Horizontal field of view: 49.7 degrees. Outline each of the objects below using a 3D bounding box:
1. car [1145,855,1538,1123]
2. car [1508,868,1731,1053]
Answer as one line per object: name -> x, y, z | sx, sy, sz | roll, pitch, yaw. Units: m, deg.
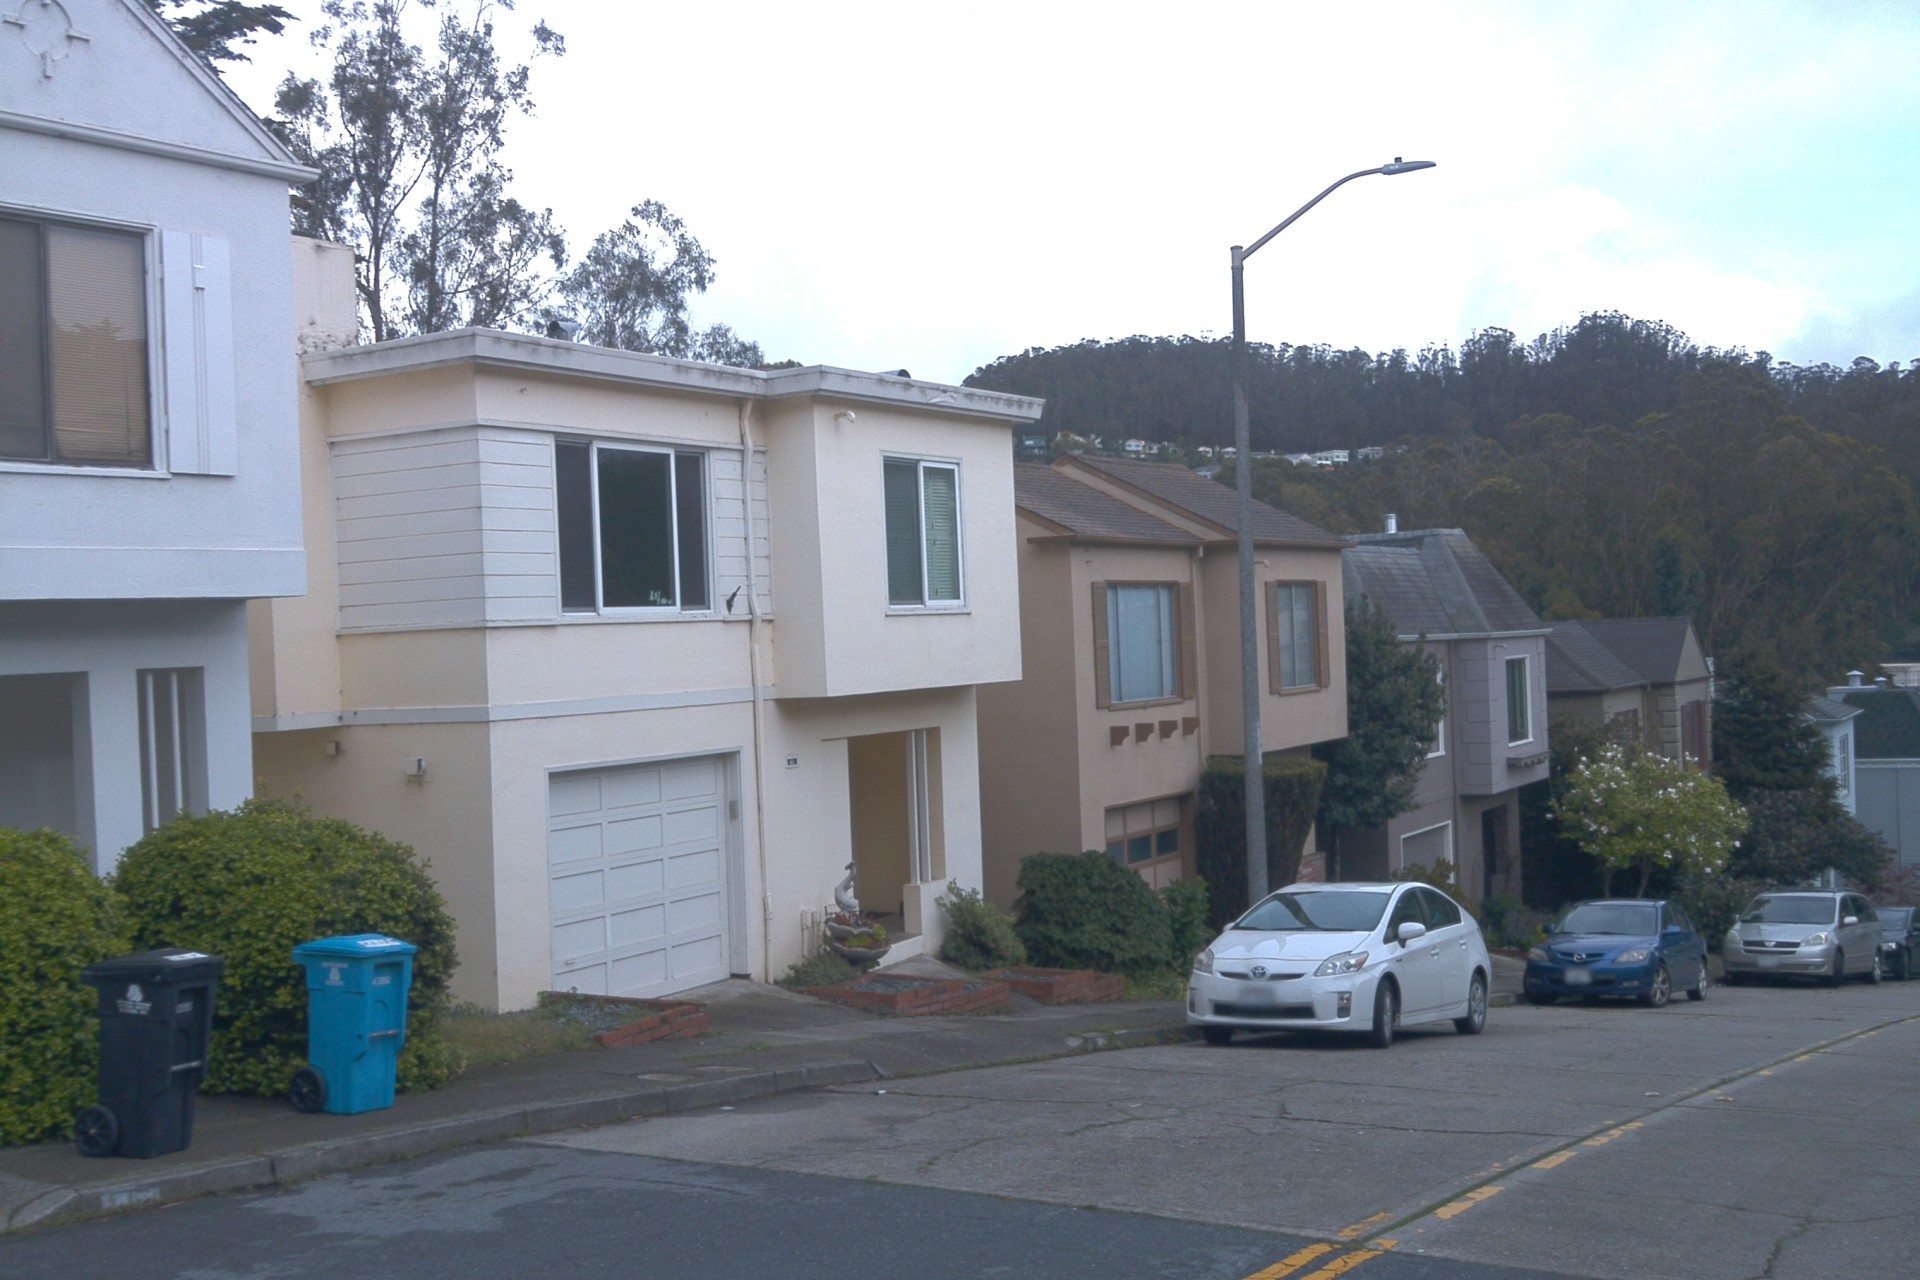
car -> 3.730, 3.130, 19.542 | 2.150, 1.700, 4.598 | 0, 0, 31
car -> 9.234, 4.345, 28.785 | 2.028, 1.850, 4.430 | 0, 0, 30
